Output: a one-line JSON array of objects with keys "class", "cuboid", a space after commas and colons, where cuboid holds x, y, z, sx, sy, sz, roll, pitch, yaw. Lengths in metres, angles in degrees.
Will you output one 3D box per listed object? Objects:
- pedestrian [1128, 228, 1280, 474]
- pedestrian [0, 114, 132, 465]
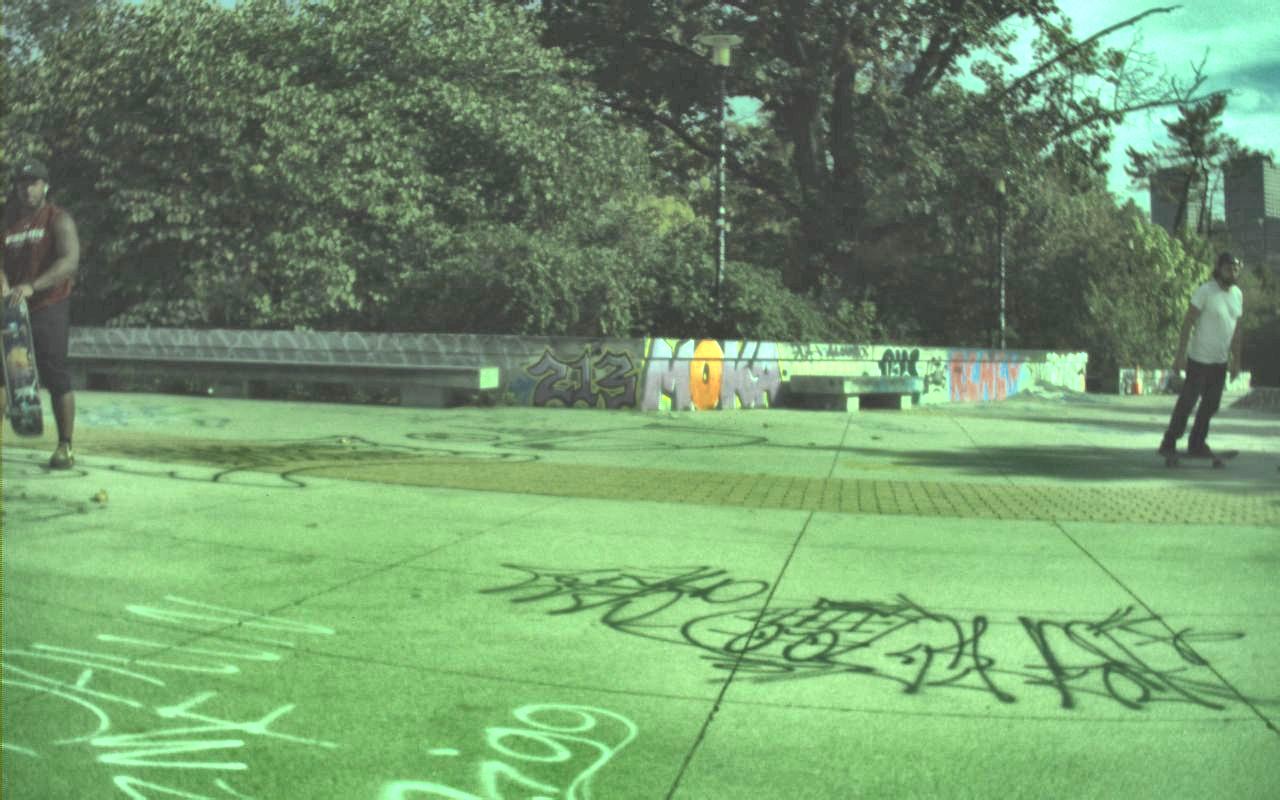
[{"class": "pedestrian", "cuboid": [4.349, -0.345, 8.885, 0.964, 1.777, 0.838, 0, 0, -13]}, {"class": "pedestrian", "cuboid": [-3.220, -0.539, 5.904, 0.804, 1.712, 0.774, 1, 0, 31]}]
